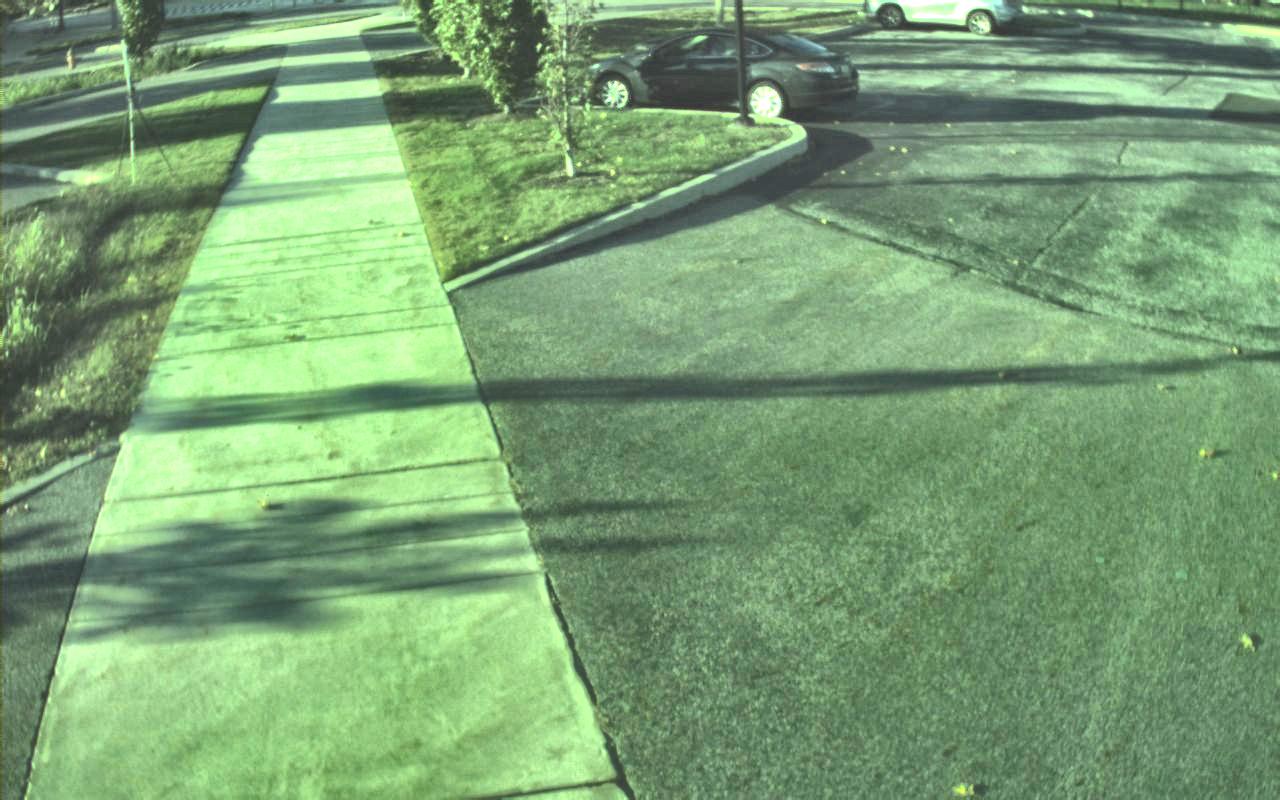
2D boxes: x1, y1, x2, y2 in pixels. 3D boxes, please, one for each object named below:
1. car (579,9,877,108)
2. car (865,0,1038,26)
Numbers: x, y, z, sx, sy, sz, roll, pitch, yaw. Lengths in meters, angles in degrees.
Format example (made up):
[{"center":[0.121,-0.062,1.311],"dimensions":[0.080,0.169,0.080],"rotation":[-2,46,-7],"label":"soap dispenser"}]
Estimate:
[{"center":[1.439,-5.639,20.328],"dimensions":[4.548,1.519,1.940],"rotation":[8,17,29],"label":"car"},{"center":[9.334,-12.161,35.438],"dimensions":[4.899,1.885,2.102],"rotation":[7,17,27],"label":"car"}]
